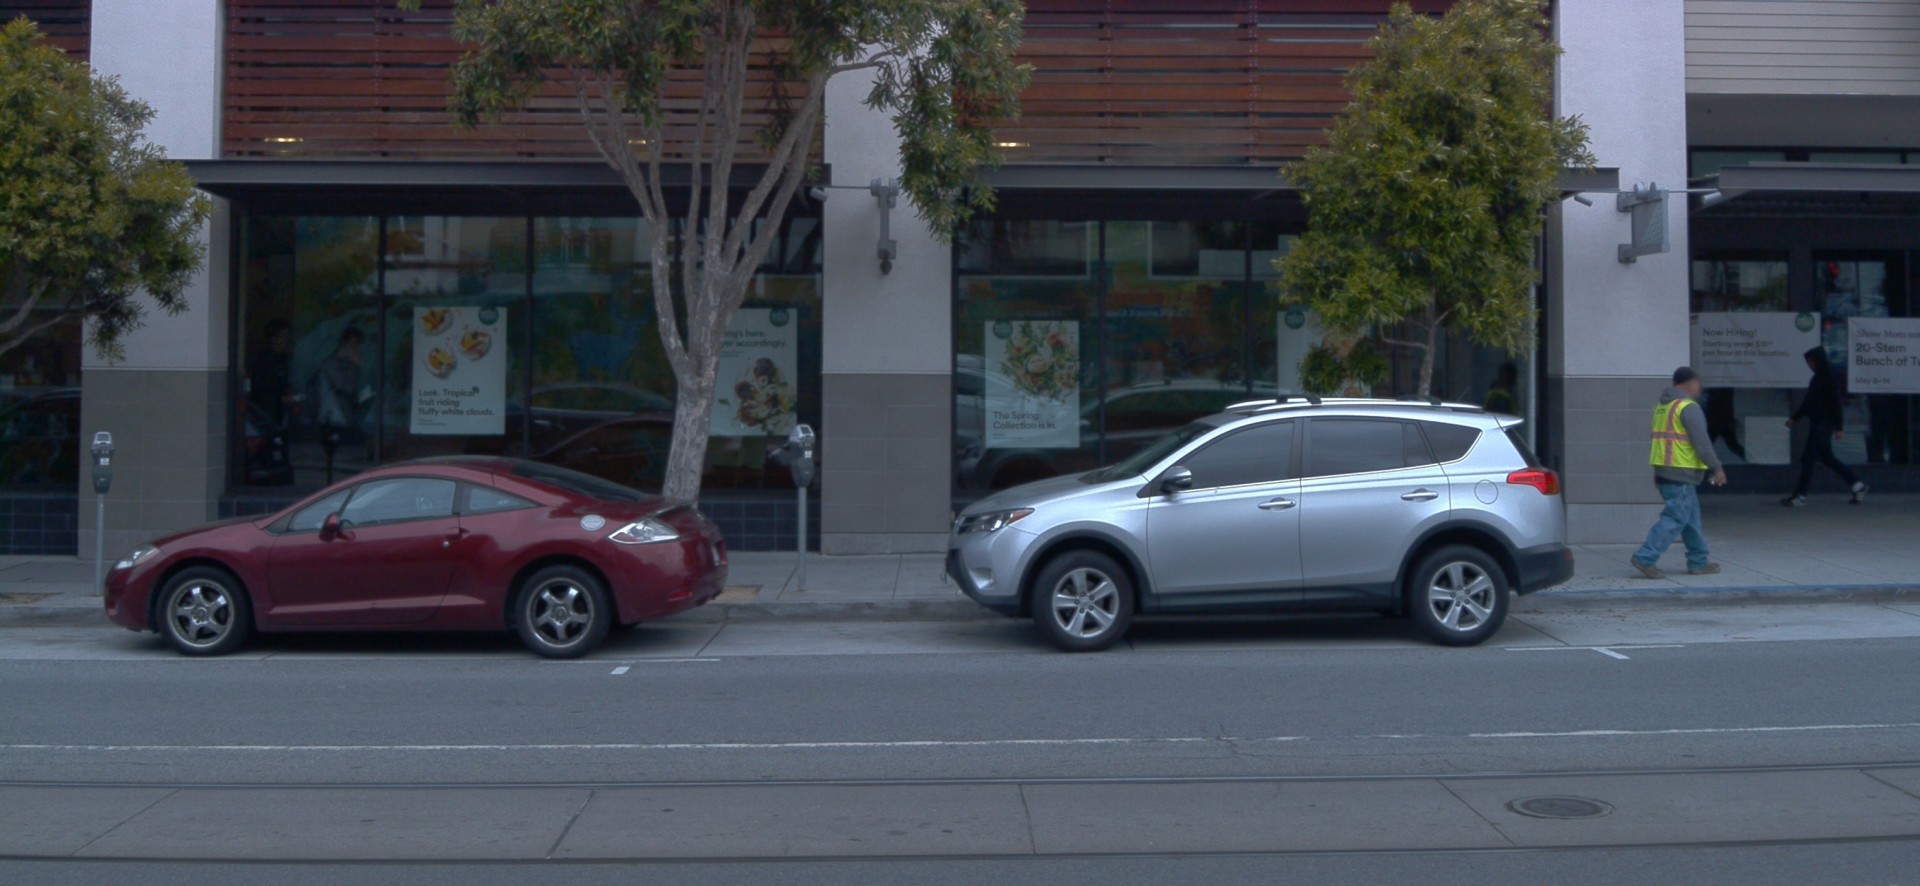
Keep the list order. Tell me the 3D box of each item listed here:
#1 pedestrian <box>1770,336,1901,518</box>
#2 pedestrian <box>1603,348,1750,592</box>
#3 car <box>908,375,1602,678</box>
[{"bbox_3d":[9.838,-0.196,23.202,1.075,1.936,0.845,-1,2,-6],"label":"pedestrian"},{"bbox_3d":[5.871,0.197,16.937,0.859,1.877,0.859,-1,2,-6],"label":"pedestrian"},{"bbox_3d":[1.984,0.519,14.947,4.658,1.804,2.133,-1,4,-3],"label":"car"}]
